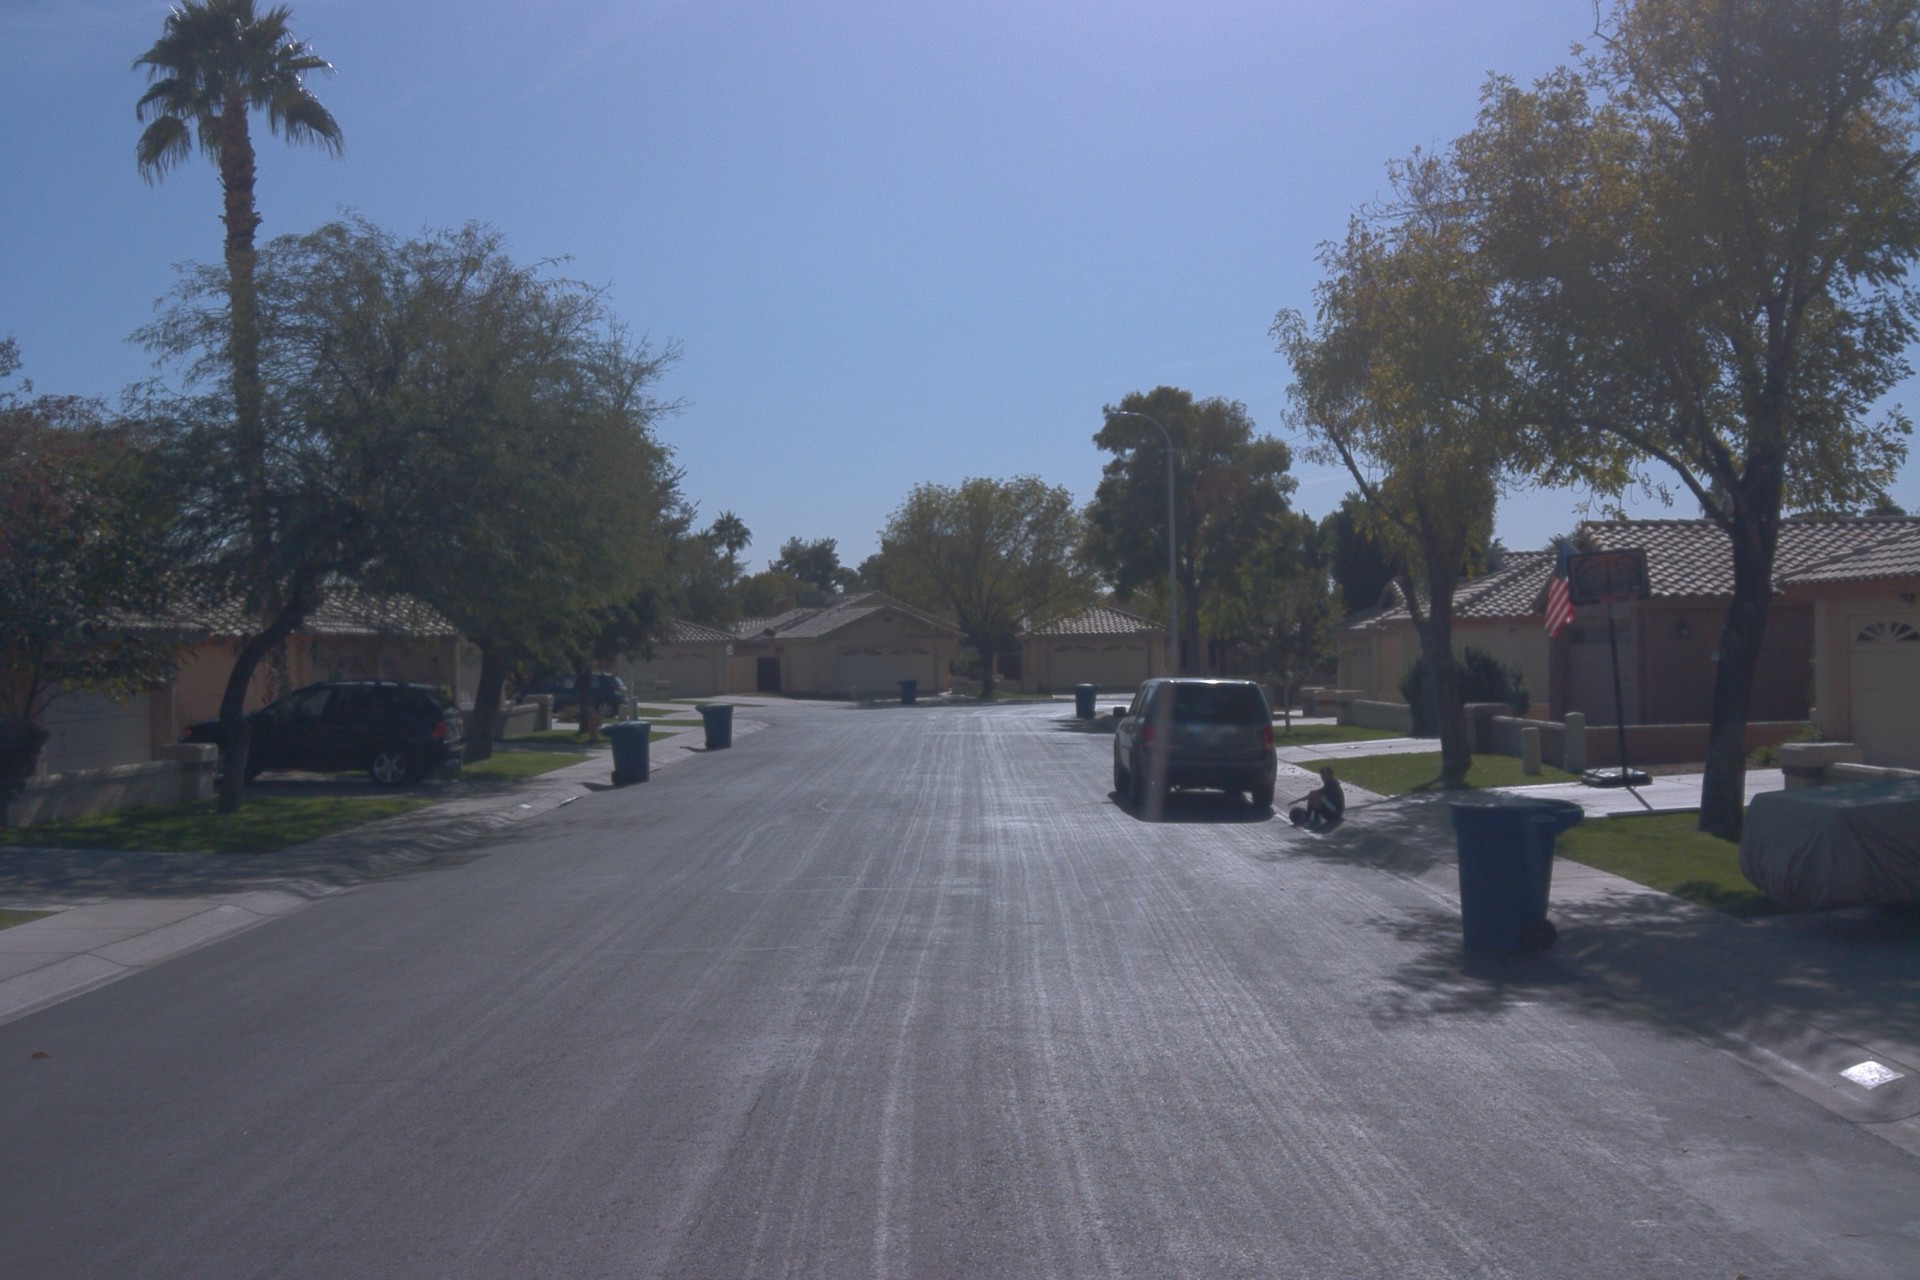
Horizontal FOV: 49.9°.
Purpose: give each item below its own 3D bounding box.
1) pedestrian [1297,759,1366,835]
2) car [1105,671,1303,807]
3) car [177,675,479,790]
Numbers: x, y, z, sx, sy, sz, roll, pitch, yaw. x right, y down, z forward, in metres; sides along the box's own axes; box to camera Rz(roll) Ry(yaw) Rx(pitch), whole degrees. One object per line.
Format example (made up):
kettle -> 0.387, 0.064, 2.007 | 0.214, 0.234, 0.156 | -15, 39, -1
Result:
pedestrian -> 4.580, 1.927, 25.450 | 0.705, 0.880, 0.828 | 0, 0, 1
car -> 3.439, 1.362, 30.020 | 2.268, 1.780, 4.879 | 0, 0, 0
car -> -10.650, 1.538, 35.052 | 4.490, 1.850, 2.273 | 0, 0, -3
